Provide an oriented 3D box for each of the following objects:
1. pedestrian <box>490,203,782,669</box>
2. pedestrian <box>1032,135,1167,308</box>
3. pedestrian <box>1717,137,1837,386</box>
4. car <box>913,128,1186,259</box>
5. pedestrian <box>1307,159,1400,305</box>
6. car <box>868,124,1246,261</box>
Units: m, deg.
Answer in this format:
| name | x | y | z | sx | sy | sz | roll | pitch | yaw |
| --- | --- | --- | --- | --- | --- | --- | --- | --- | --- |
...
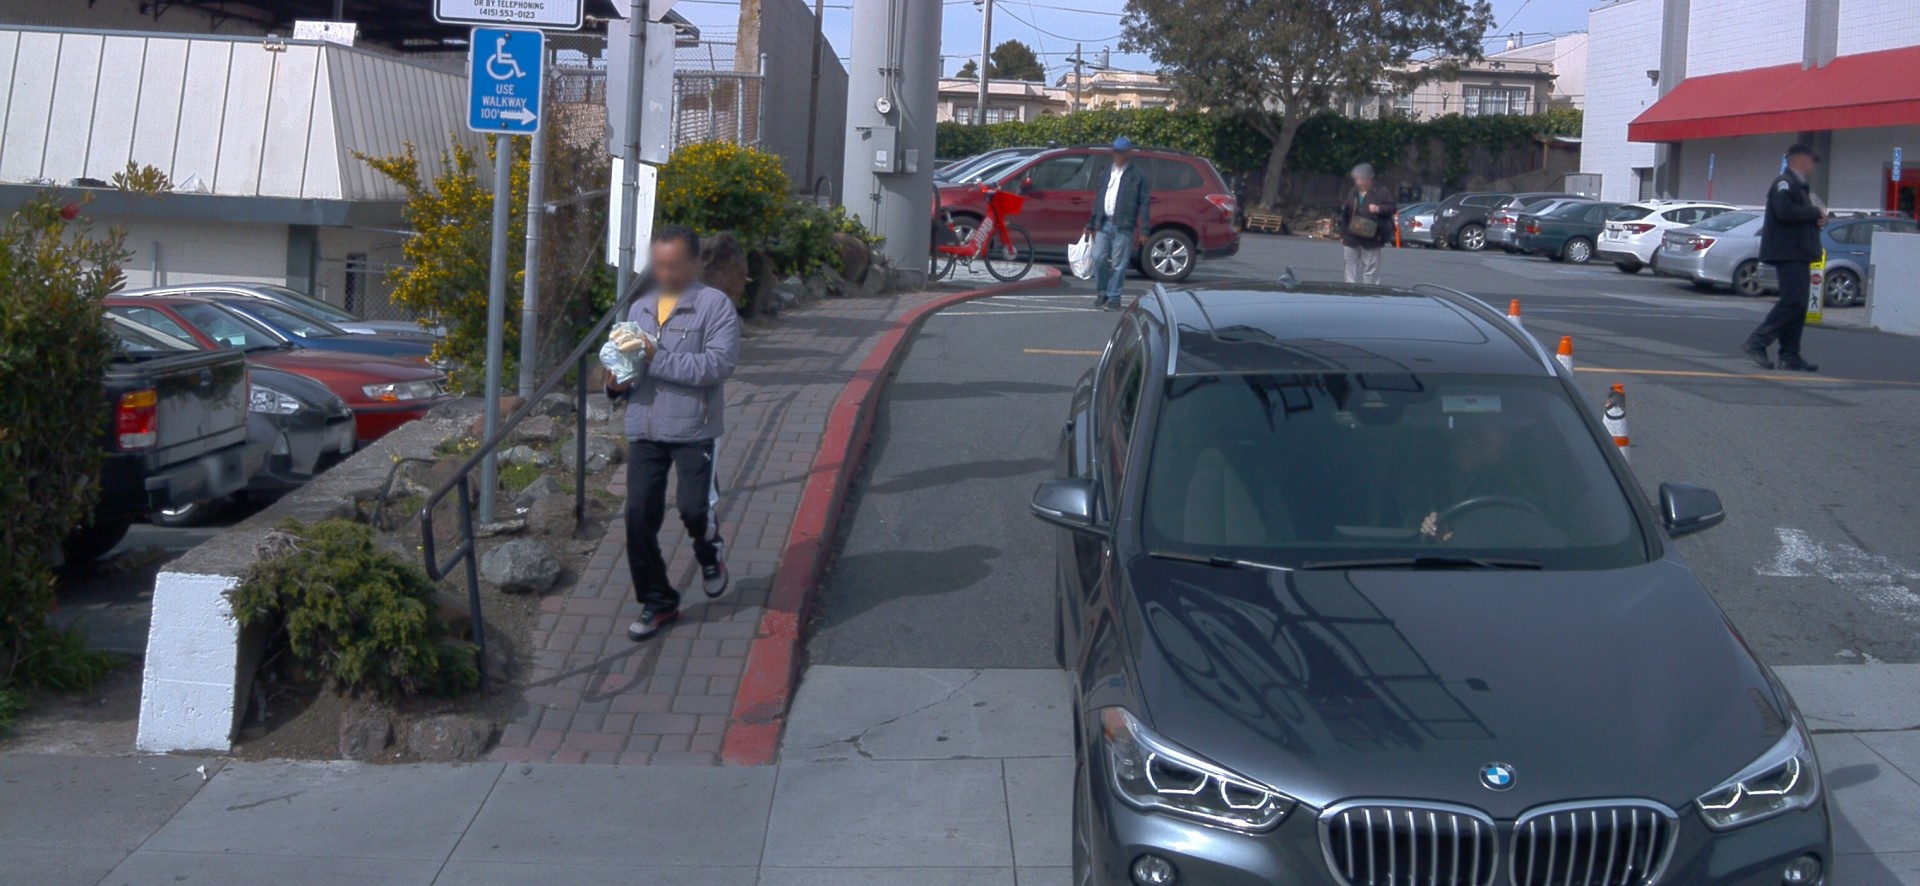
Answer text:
| name | x | y | z | sx | sy | sz | roll | pitch | yaw |
| --- | --- | --- | --- | --- | --- | --- | --- | --- | --- |
| pedestrian | -1.266 | -0.083 | 8.294 | 0.943 | 1.743 | 1.078 | 0 | 2 | 4 |
| pedestrian | 1.394 | -2.199 | 20.567 | 1.009 | 1.670 | 0.952 | 1 | 2 | 33 |
| pedestrian | 6.508 | -1.450 | 16.432 | 0.796 | 1.920 | 0.826 | 0 | 1 | 28 |
| car | 1.241 | -3.615 | 30.104 | 3.837 | 1.847 | 1.948 | 0 | 3 | -2 |
| pedestrian | 4.676 | -2.500 | 24.486 | 0.869 | 1.685 | 0.833 | 1 | 1 | 29 |
| car | 1.192 | -3.271 | 27.191 | 4.792 | 1.717 | 2.140 | 0 | 3 | -2 |
